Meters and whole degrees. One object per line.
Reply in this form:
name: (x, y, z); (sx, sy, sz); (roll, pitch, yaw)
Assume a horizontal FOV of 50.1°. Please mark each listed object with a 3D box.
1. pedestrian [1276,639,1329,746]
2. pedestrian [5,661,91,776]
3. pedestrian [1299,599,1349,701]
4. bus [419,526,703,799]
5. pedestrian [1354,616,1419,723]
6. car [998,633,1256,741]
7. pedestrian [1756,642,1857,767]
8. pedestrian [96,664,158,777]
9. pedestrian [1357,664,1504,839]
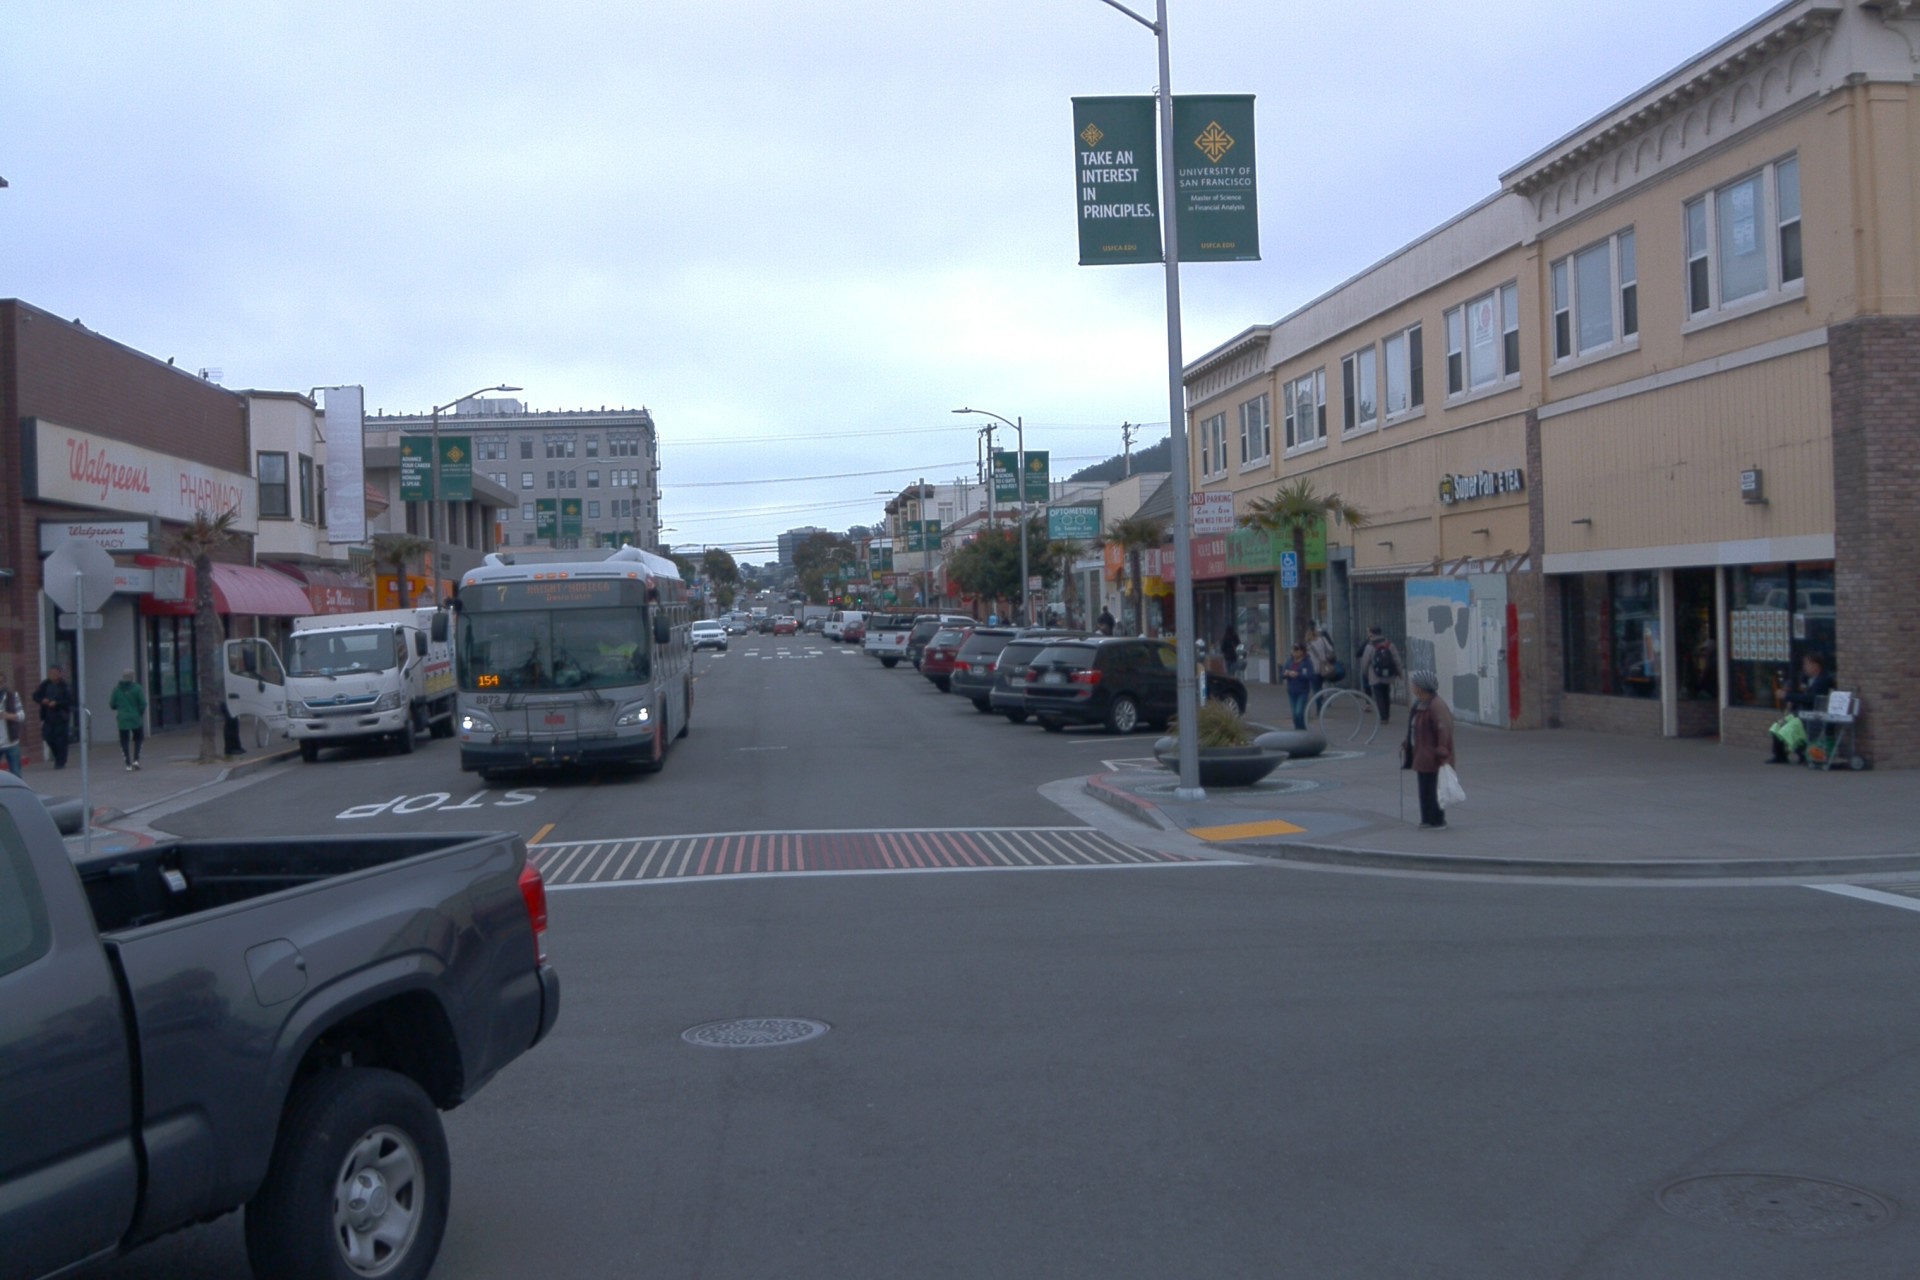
pedestrian: (5.245, 0.792, 31.469); (0.749, 1.598, 0.776); (0, 1, 13)
pedestrian: (-14.673, 1.247, 33.096); (0.912, 1.791, 0.927); (0, 1, 7)
pedestrian: (6.600, 0.177, 37.280); (0.711, 1.824, 0.916); (0, 1, -2)
bus: (-5.896, 0.187, 32.656); (3.210, 3.480, 12.606); (0, 1, -5)
pedestrian: (7.171, 0.485, 34.616); (0.924, 1.770, 0.949); (0, 1, 3)
car: (3.014, 0.772, 36.443); (4.509, 1.740, 2.044); (-1, 1, -43)
pedestrian: (9.637, 0.718, 23.436); (0.740, 1.374, 0.873); (0, 1, -5)
pedestrian: (-13.159, 1.258, 32.506); (0.766, 1.713, 1.105); (-1, 1, -15)
pedestrian: (4.216, 0.975, 18.472); (0.827, 1.477, 1.073); (-1, 1, -21)
